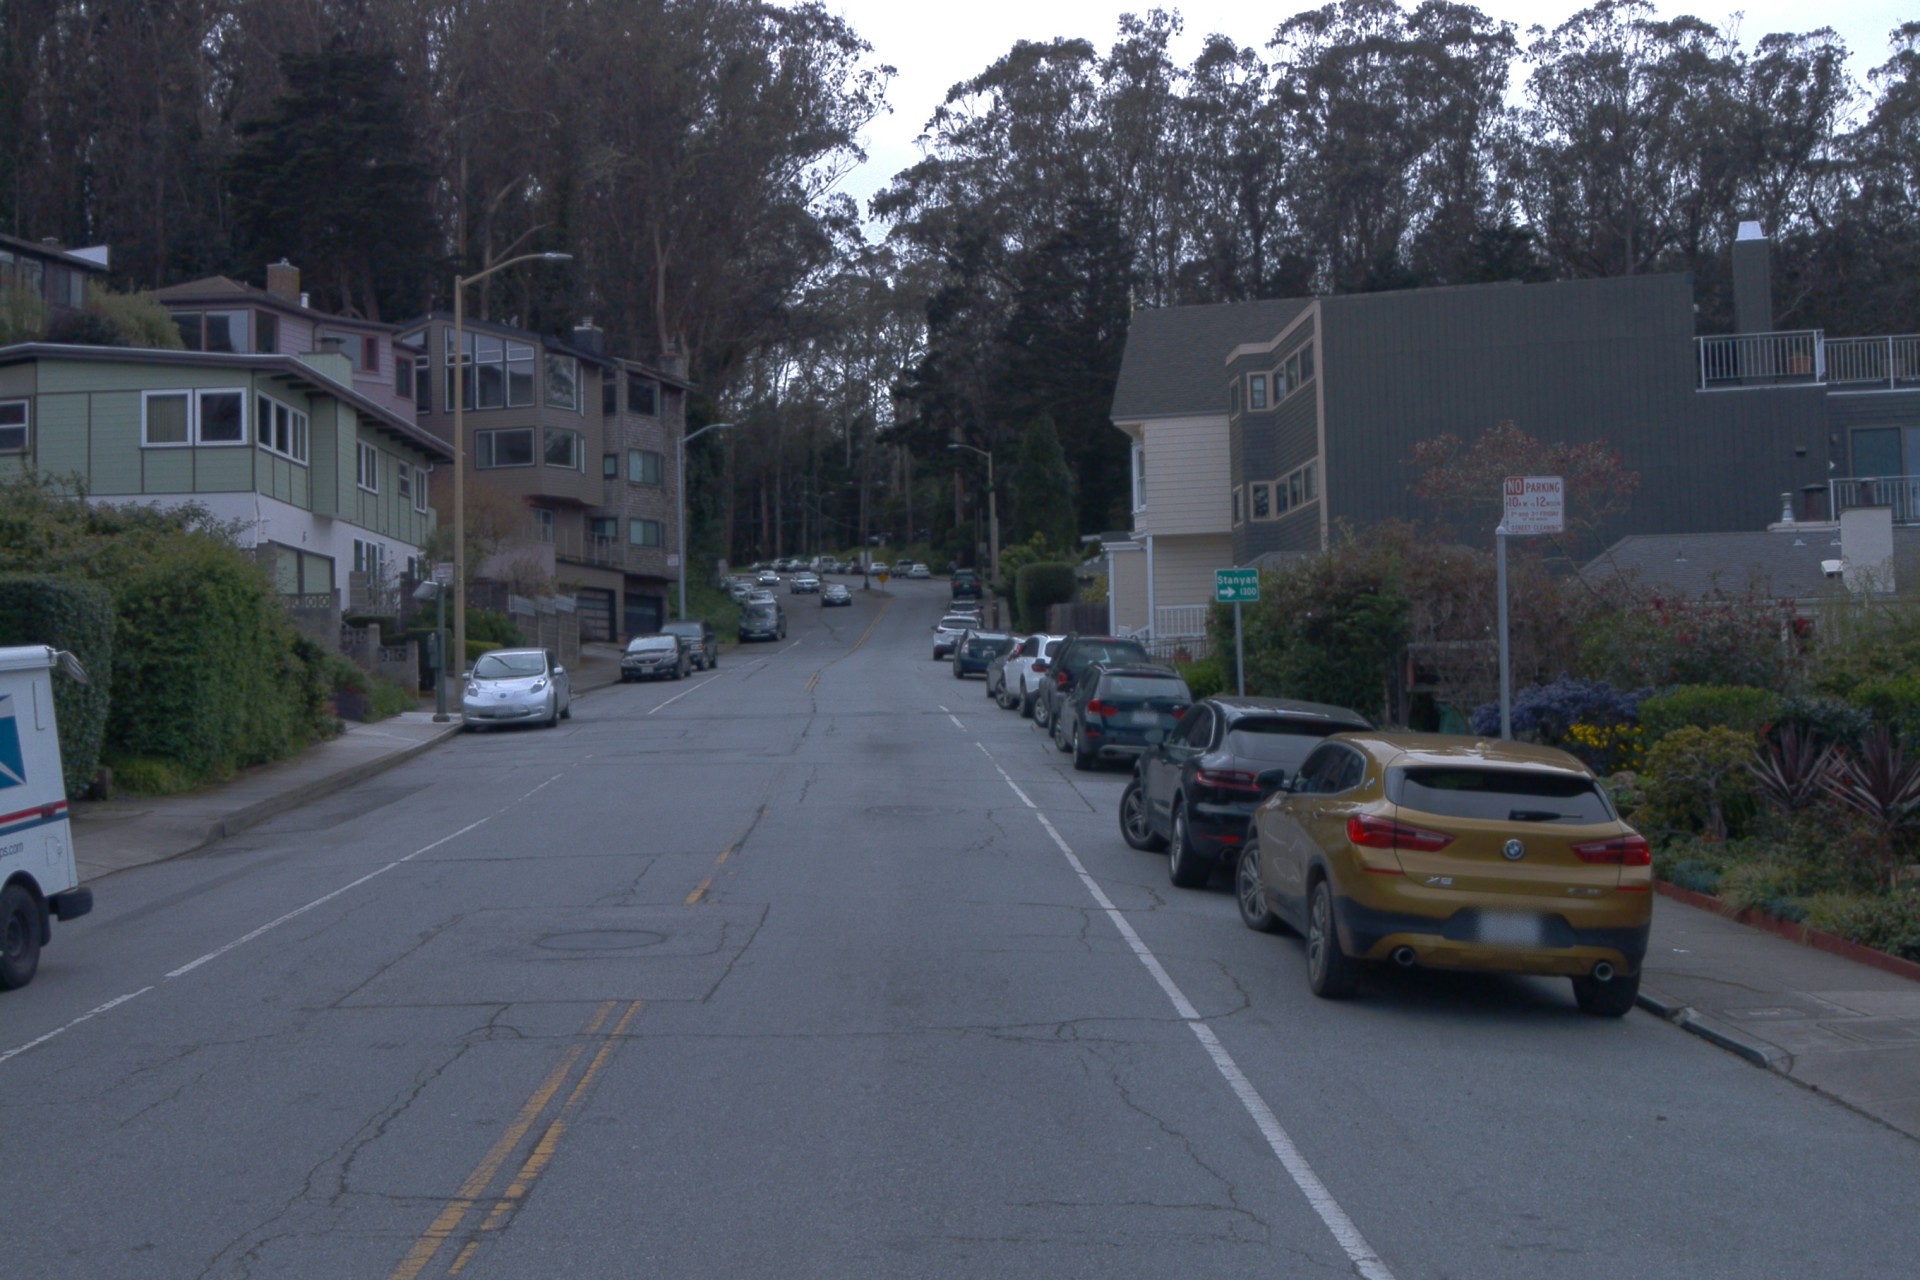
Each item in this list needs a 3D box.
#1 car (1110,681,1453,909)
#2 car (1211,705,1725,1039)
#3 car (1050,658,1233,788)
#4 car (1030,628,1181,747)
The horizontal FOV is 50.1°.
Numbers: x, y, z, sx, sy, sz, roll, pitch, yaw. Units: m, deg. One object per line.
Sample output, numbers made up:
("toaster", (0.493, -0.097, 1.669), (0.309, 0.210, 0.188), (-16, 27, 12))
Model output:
("car", (2.710, 1.271, 18.584), (2.325, 1.630, 4.751), (0, 1, 0))
("car", (3.020, 1.329, 13.363), (2.199, 1.600, 4.505), (0, 1, 0))
("car", (2.611, 1.174, 30.667), (2.171, 1.690, 4.493), (0, 1, -2))
("car", (2.465, 0.773, 36.078), (2.204, 1.910, 4.614), (0, 1, -1))
